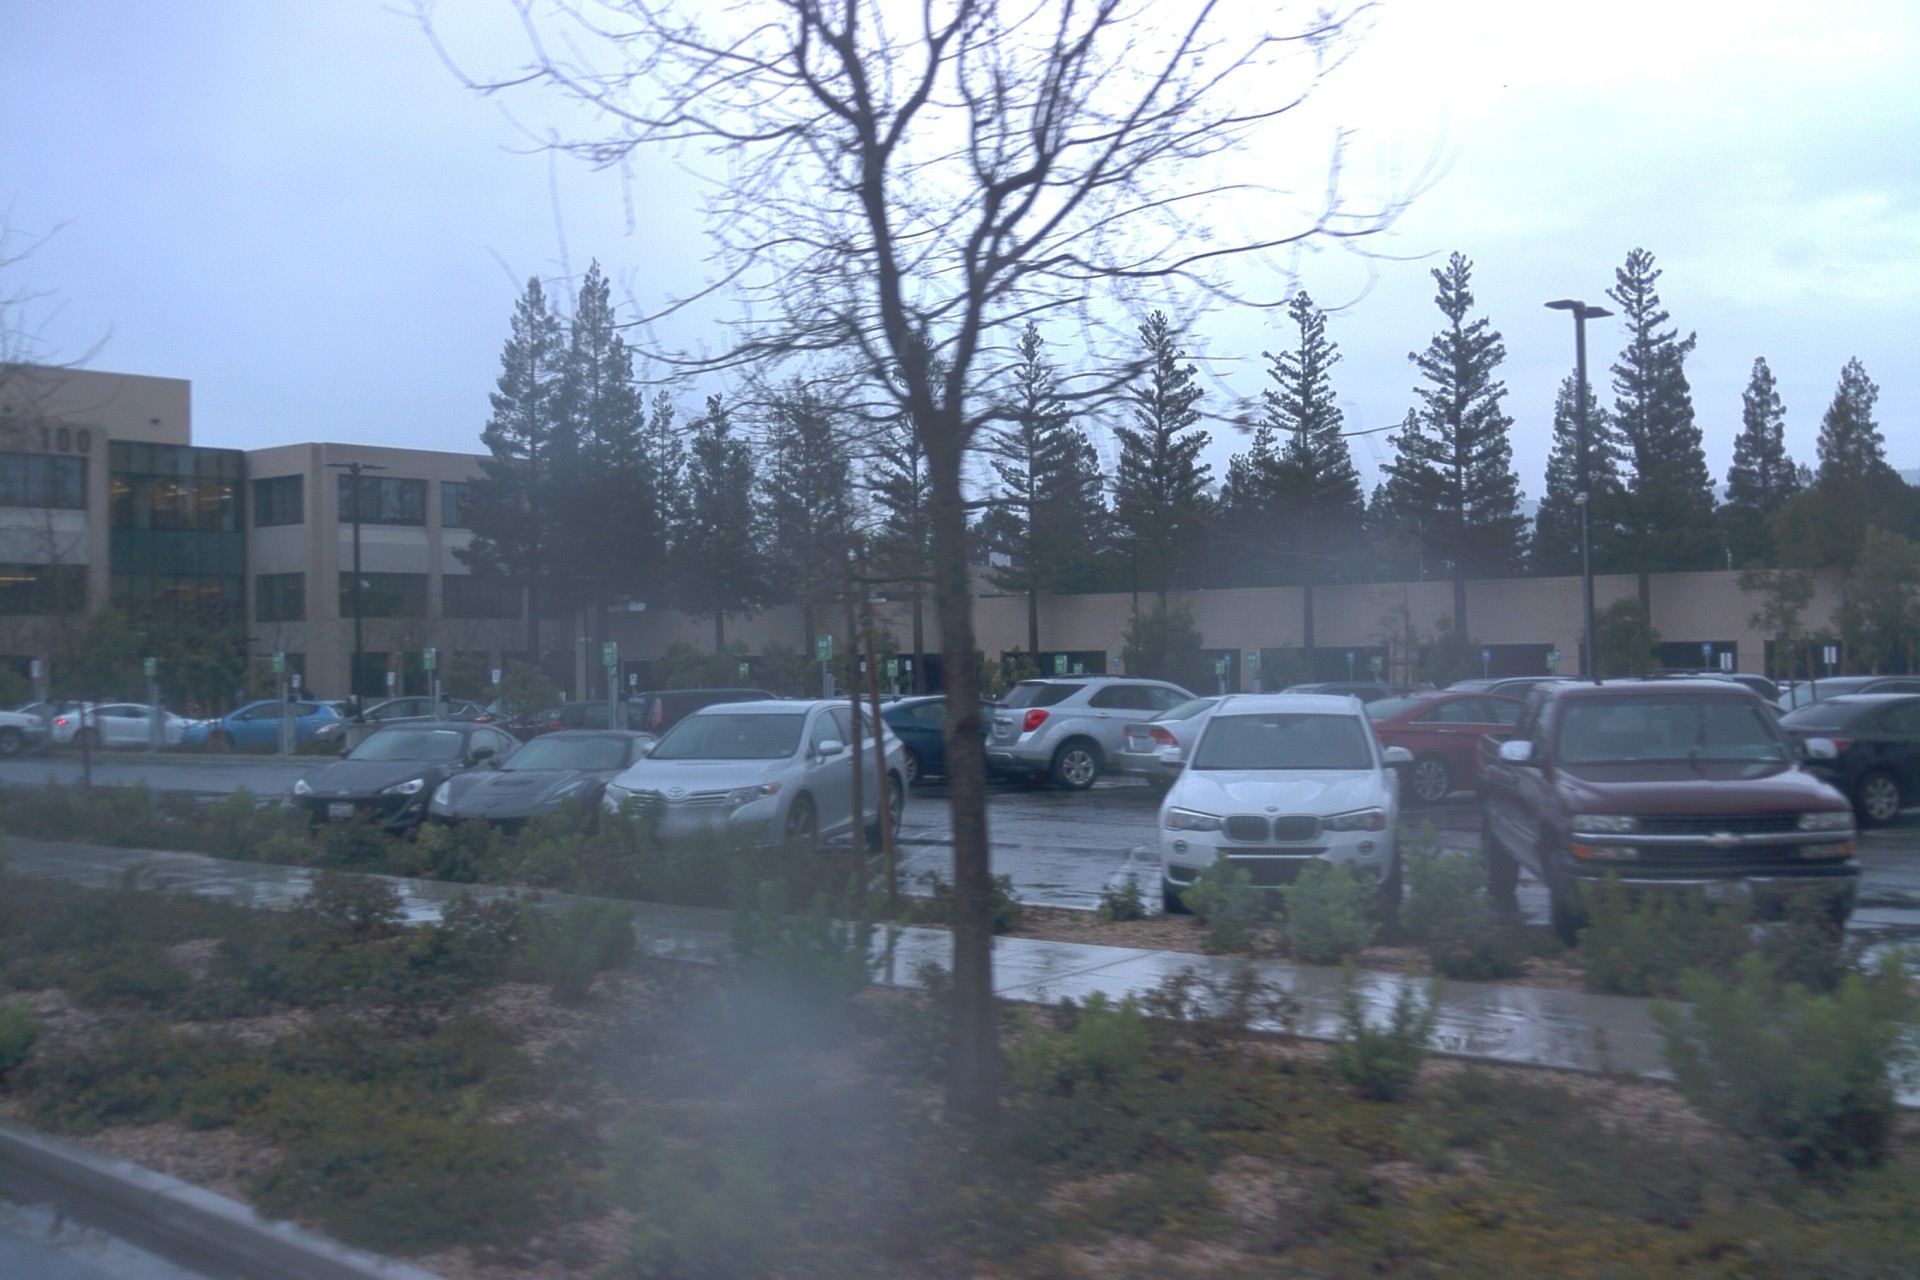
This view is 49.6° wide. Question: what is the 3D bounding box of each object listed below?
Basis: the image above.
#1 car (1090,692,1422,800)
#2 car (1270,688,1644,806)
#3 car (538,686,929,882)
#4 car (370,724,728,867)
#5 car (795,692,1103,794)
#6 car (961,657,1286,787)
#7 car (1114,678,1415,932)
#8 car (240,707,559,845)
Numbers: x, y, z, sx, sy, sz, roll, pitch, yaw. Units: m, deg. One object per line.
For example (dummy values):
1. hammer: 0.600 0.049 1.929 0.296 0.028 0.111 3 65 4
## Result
1. car: 4.190 1.471 29.598 4.193 1.420 2.077 0 -1 -19
2. car: 6.658 1.384 27.849 4.528 1.440 2.108 0 -1 -25
3. car: -2.132 1.350 21.234 2.247 1.710 4.766 0 -1 18
4. car: -4.464 1.664 23.378 2.185 1.300 4.497 0 -1 15
5. car: -0.188 1.599 33.126 4.494 1.500 1.968 0 -1 -22
6. car: 2.469 1.207 31.643 4.498 1.870 2.011 0 -1 -18
7. car: 2.723 1.244 17.582 2.174 1.810 4.638 0 -1 13
8. car: -6.645 1.574 25.151 2.010 1.430 4.227 0 -1 12
